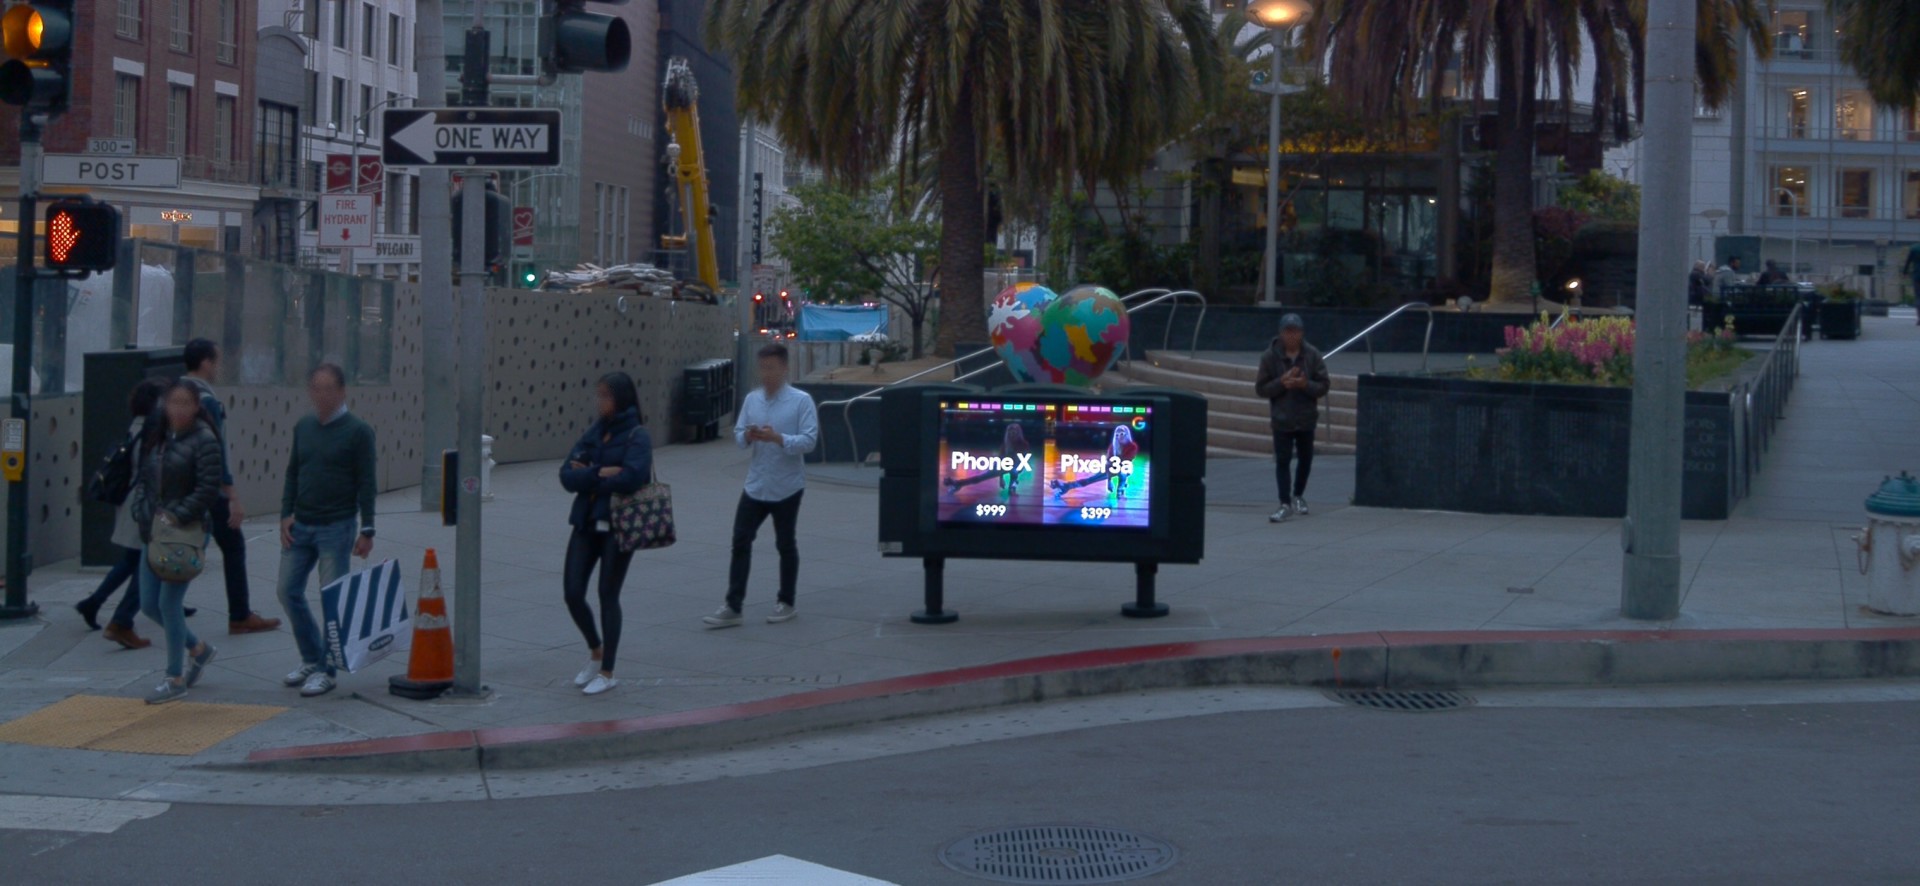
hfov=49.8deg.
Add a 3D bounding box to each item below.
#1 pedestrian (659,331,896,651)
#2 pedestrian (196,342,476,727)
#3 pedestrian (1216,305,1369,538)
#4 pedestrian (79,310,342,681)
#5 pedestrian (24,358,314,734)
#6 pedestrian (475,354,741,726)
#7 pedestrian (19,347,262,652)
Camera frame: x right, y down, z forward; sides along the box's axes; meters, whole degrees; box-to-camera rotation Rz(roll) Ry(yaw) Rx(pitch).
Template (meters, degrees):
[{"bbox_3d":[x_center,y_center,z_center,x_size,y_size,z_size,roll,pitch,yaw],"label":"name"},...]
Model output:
[{"bbox_3d":[-1.089,0.233,12.407,1.001,1.759,1.001,1,2,38],"label":"pedestrian"},{"bbox_3d":[-3.272,0.414,10.852,1.001,1.829,1.001,1,2,37],"label":"pedestrian"},{"bbox_3d":[2.630,-0.200,16.443,1.000,1.759,1.002,0,2,-3],"label":"pedestrian"},{"bbox_3d":[-4.321,0.234,11.912,1.115,1.959,1.014,-2,2,-42],"label":"pedestrian"},{"bbox_3d":[-4.040,0.464,10.565,1.001,1.719,1.002,1,2,37],"label":"pedestrian"},{"bbox_3d":[-1.799,0.448,10.689,1.000,1.749,1.002,0,2,18],"label":"pedestrian"},{"bbox_3d":[-4.929,0.289,12.427,1.115,1.659,0.919,-2,2,-40],"label":"pedestrian"}]
